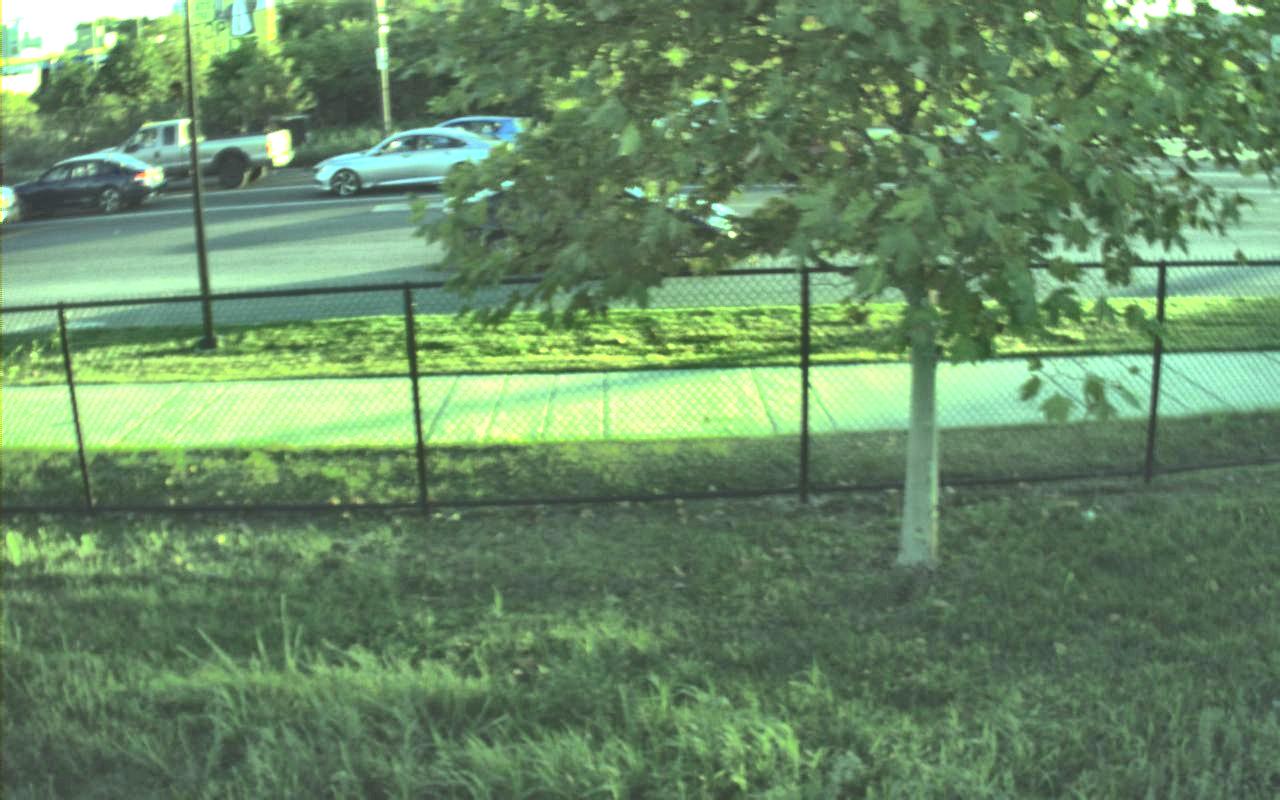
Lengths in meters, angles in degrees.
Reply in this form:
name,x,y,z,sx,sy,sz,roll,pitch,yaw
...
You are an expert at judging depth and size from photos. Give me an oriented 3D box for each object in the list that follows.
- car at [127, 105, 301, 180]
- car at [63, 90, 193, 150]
name,x,y,z,sx,sy,sz,roll,pitch,yaw
car,-11.836,-7.101,32.822,4.624,1.614,1.983,-2,16,-3
car,-19.443,-10.497,43.536,4.818,1.702,2.065,-3,16,-6
